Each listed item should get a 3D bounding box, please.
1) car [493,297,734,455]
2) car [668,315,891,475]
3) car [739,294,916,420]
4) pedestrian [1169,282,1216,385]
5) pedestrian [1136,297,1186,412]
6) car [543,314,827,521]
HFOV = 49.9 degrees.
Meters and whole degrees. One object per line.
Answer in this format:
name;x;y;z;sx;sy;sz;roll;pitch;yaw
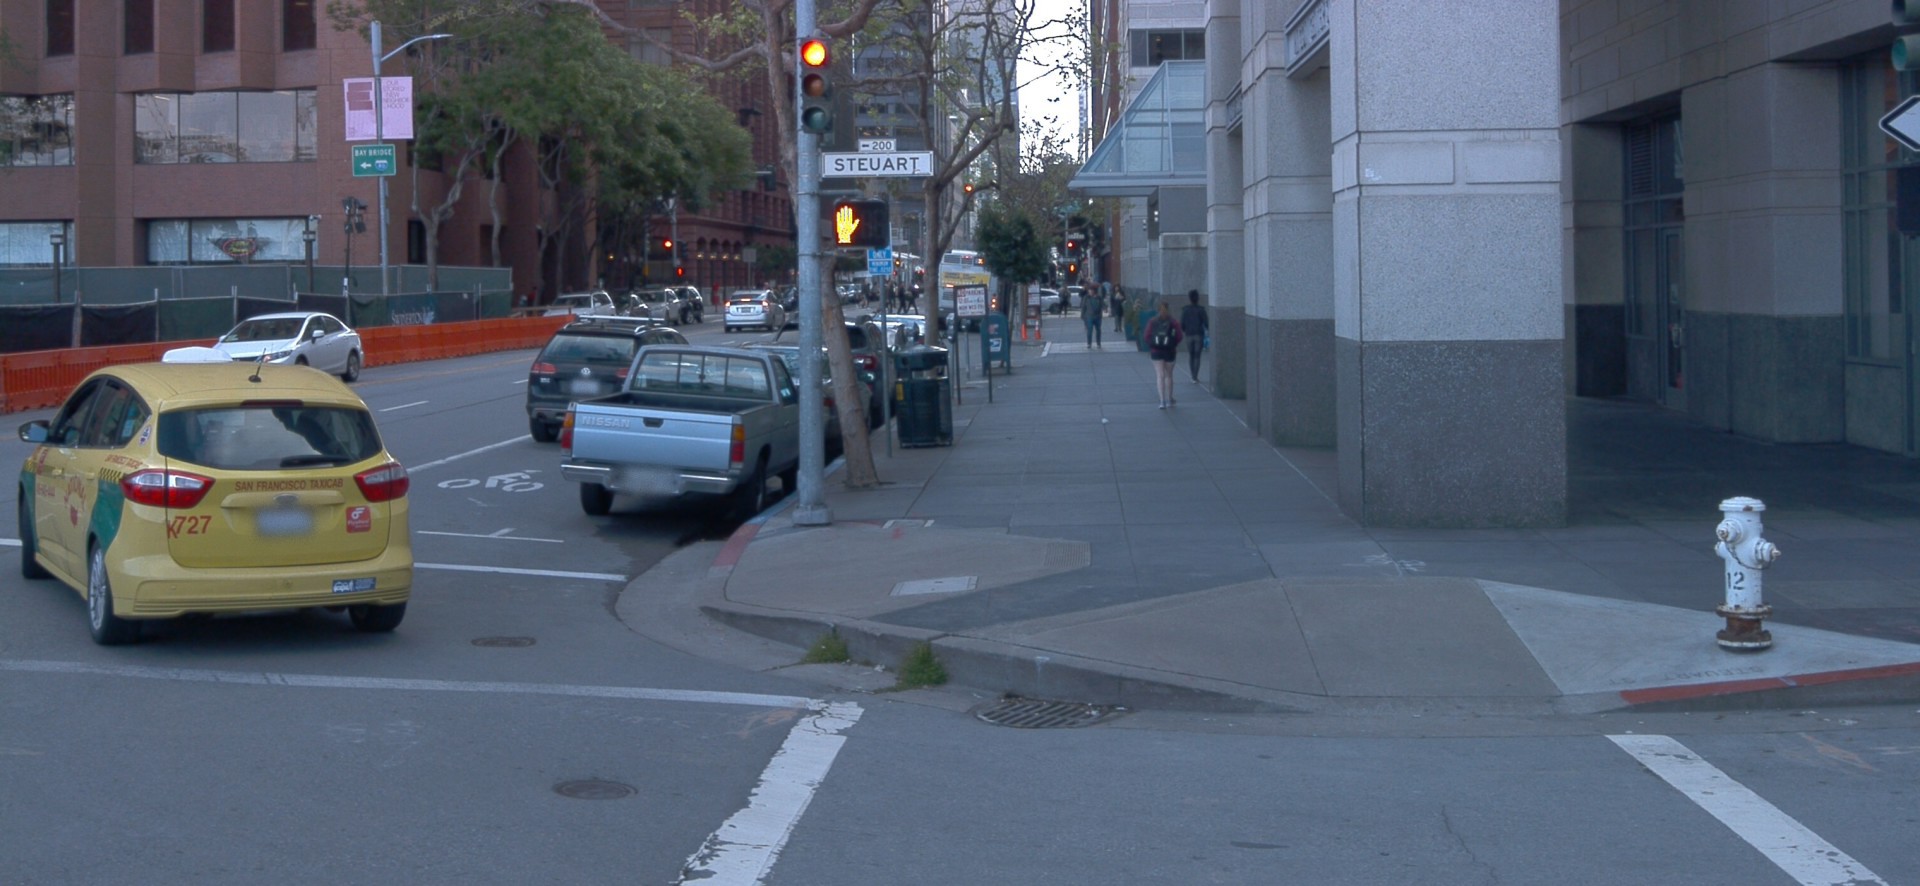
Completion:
car;-4.396;-0.959;26.859;2.035;1.754;4.228;0;5;6
car;-2.162;-0.700;26.089;2.108;1.654;4.603;0;5;4
car;-1.968;-1.415;32.198;2.261;1.663;4.949;0;5;2
pedestrian;4.185;-1.985;37.136;0.713;1.810;0.742;0;1;17
pedestrian;2.960;-1.319;30.414;0.720;1.649;0.900;0;1;5
car;-2.529;-0.370;20.169;1.863;1.604;4.695;0;5;4
